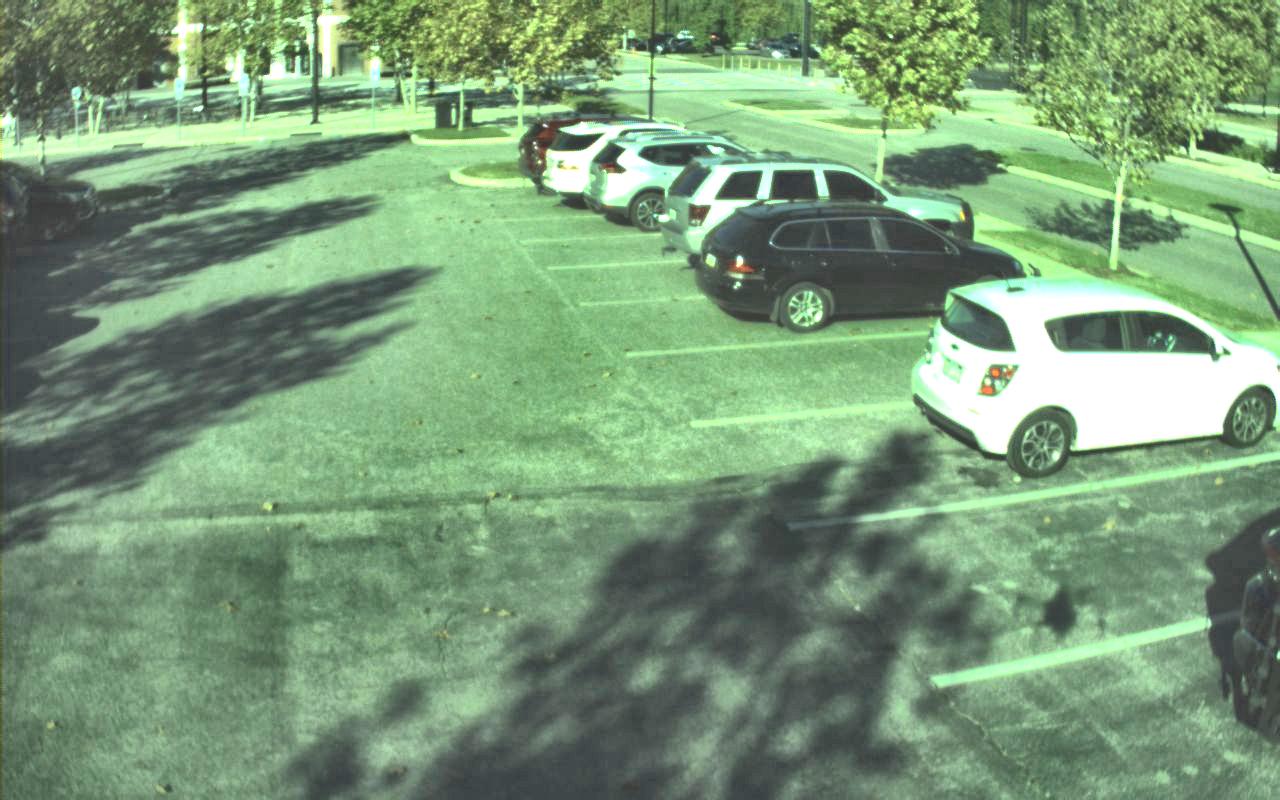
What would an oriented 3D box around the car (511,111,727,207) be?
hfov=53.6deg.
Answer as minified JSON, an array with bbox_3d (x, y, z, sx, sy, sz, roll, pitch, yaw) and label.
[{"bbox_3d":[-0.508,-5.505,28.283,4.510,1.776,2.001,-6,17,-15],"label":"car"}]

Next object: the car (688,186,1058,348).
[{"bbox_3d":[3.032,-1.819,16.112,4.469,1.550,1.930,-5,17,-13],"label":"car"}]

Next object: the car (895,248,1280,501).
[{"bbox_3d":[4.613,-0.384,11.262,4.081,1.635,1.876,-5,17,-14],"label":"car"}]

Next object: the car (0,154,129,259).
[{"bbox_3d":[-13.060,-3.967,23.288,4.547,1.649,2.015,1,16,5],"label":"car"}]

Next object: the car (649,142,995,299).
[{"bbox_3d":[2.707,-2.778,18.550,4.768,1.876,2.057,-5,17,-13],"label":"car"}]

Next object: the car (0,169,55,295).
[{"bbox_3d":[-13.181,-3.046,19.988,4.487,1.647,1.987,-4,17,-10],"label":"car"}]

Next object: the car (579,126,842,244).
[{"bbox_3d":[1.286,-4.079,23.313,4.530,1.796,1.989,-5,17,-13],"label":"car"}]

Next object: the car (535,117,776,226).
[{"bbox_3d":[0.299,-4.738,25.645,4.560,1.823,2.018,-6,17,-15],"label":"car"}]
